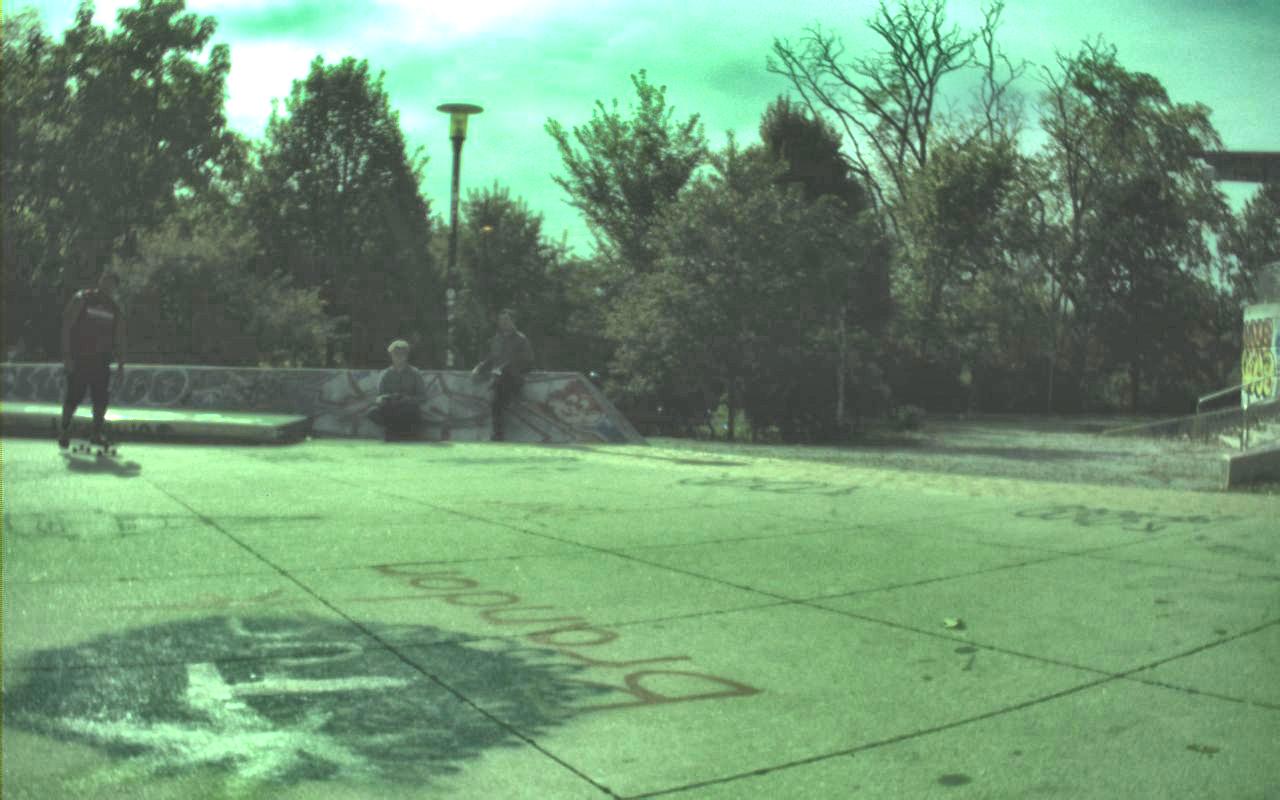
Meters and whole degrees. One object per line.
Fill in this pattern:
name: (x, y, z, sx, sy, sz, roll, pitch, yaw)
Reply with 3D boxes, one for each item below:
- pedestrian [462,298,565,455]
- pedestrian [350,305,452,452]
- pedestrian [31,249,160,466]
pedestrian: (-1.407, -0.264, 14.007, 0.817, 1.680, 0.854, 1, 0, 26)
pedestrian: (-2.620, -0.234, 13.633, 0.821, 1.556, 0.800, 1, 0, 23)
pedestrian: (-4.796, -0.344, 10.101, 0.897, 1.795, 0.861, 1, 0, 32)
